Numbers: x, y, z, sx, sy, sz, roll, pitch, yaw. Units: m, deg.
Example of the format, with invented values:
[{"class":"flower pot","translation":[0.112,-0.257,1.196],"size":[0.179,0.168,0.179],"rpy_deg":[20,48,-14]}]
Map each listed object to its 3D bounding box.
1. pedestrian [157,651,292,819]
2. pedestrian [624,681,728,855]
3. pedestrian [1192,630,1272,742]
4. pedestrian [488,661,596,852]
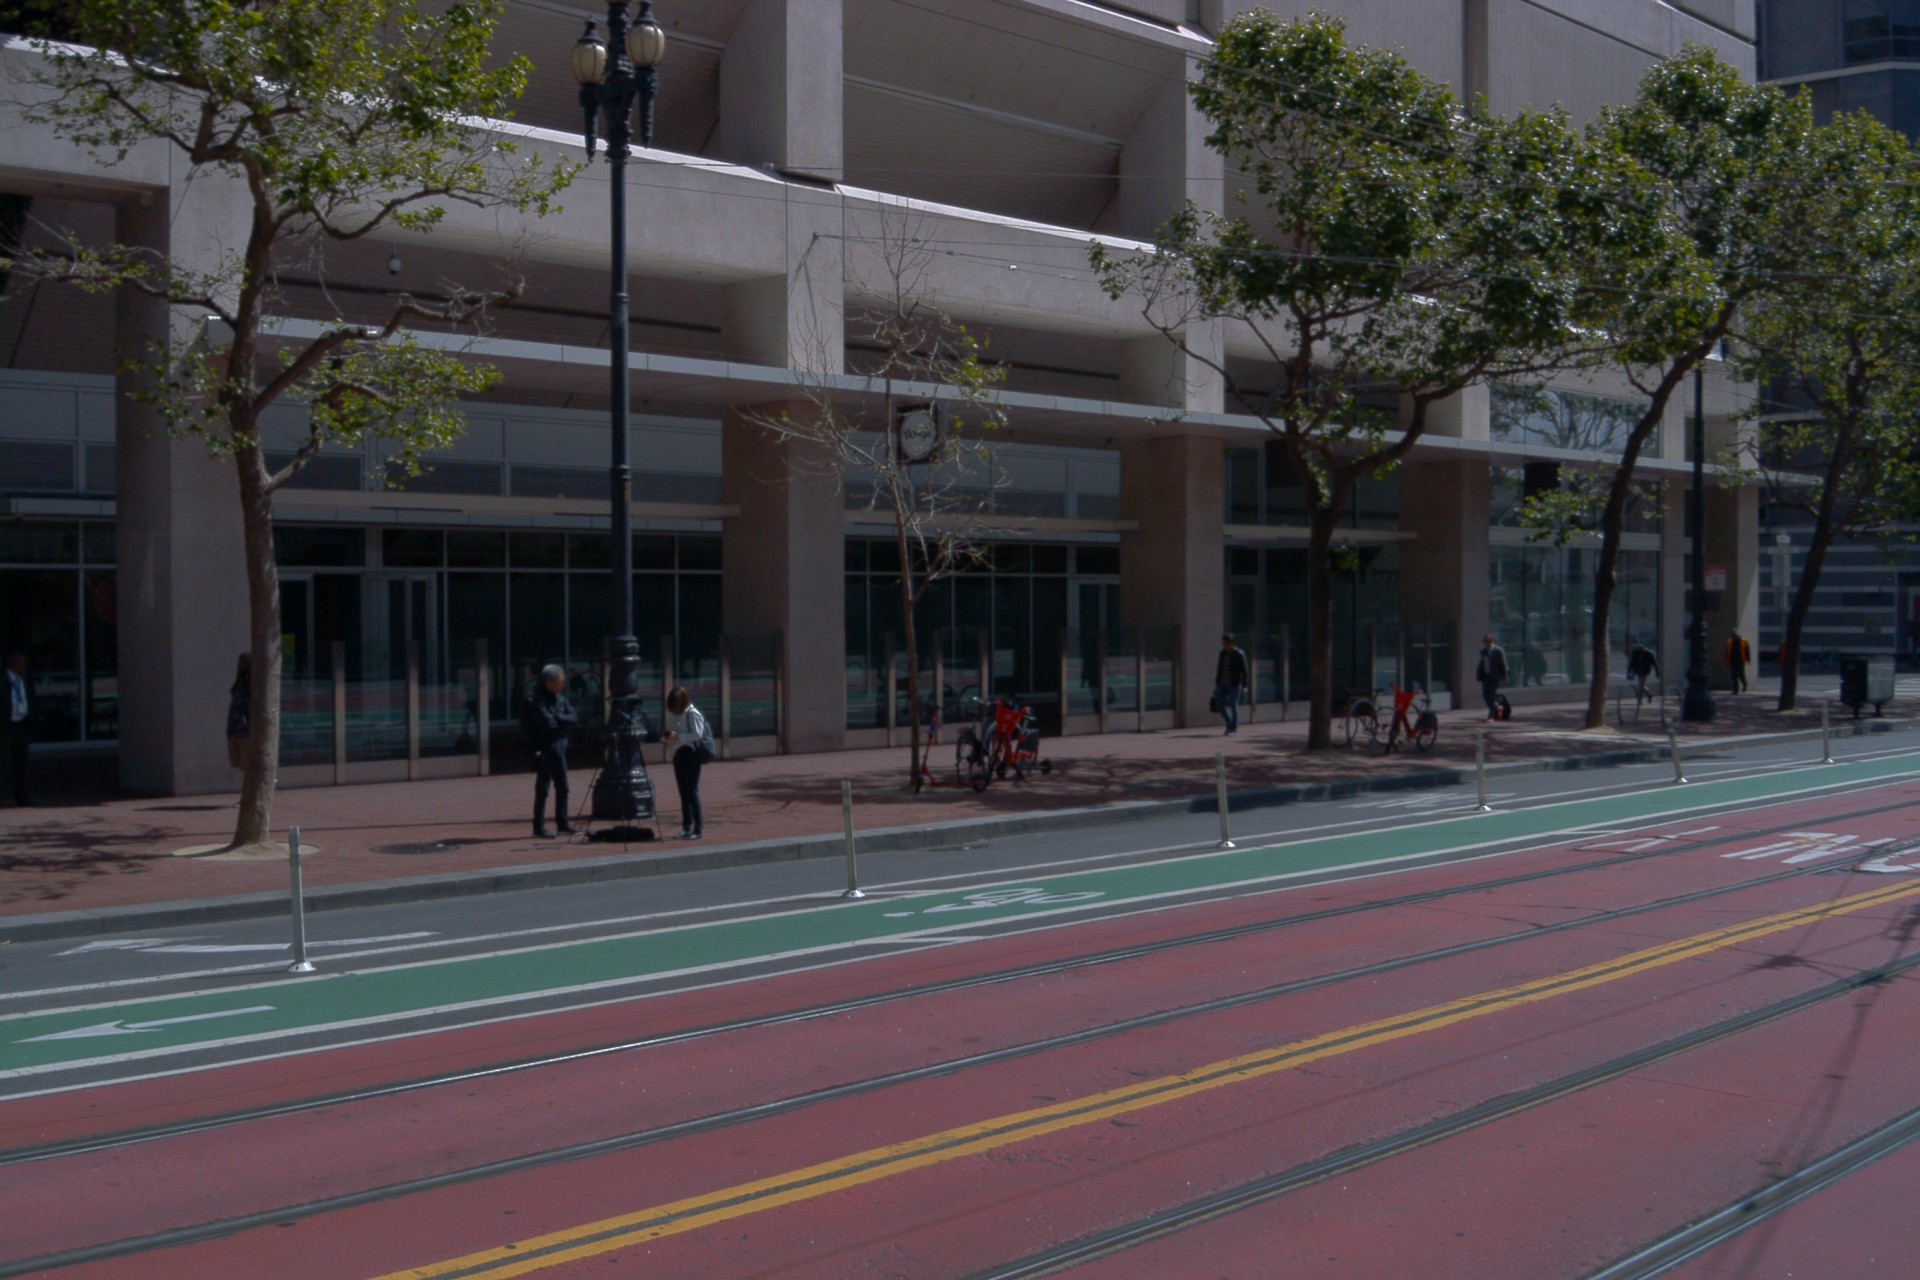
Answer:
[{"class":"pedestrian","translation":[-8.393,1.058,23.578],"size":[0.840,1.830,1.167],"rpy_deg":[0,1,32]},{"class":"pedestrian","translation":[-2.922,1.300,21.268],"size":[0.671,1.710,0.817],"rpy_deg":[1,1,41]},{"class":"pedestrian","translation":[4.861,0.809,36.869],"size":[0.850,1.950,1.198],"rpy_deg":[1,1,45]},{"class":"pedestrian","translation":[-4.286,1.169,21.150],"size":[0.804,1.880,0.761],"rpy_deg":[1,1,44]}]
